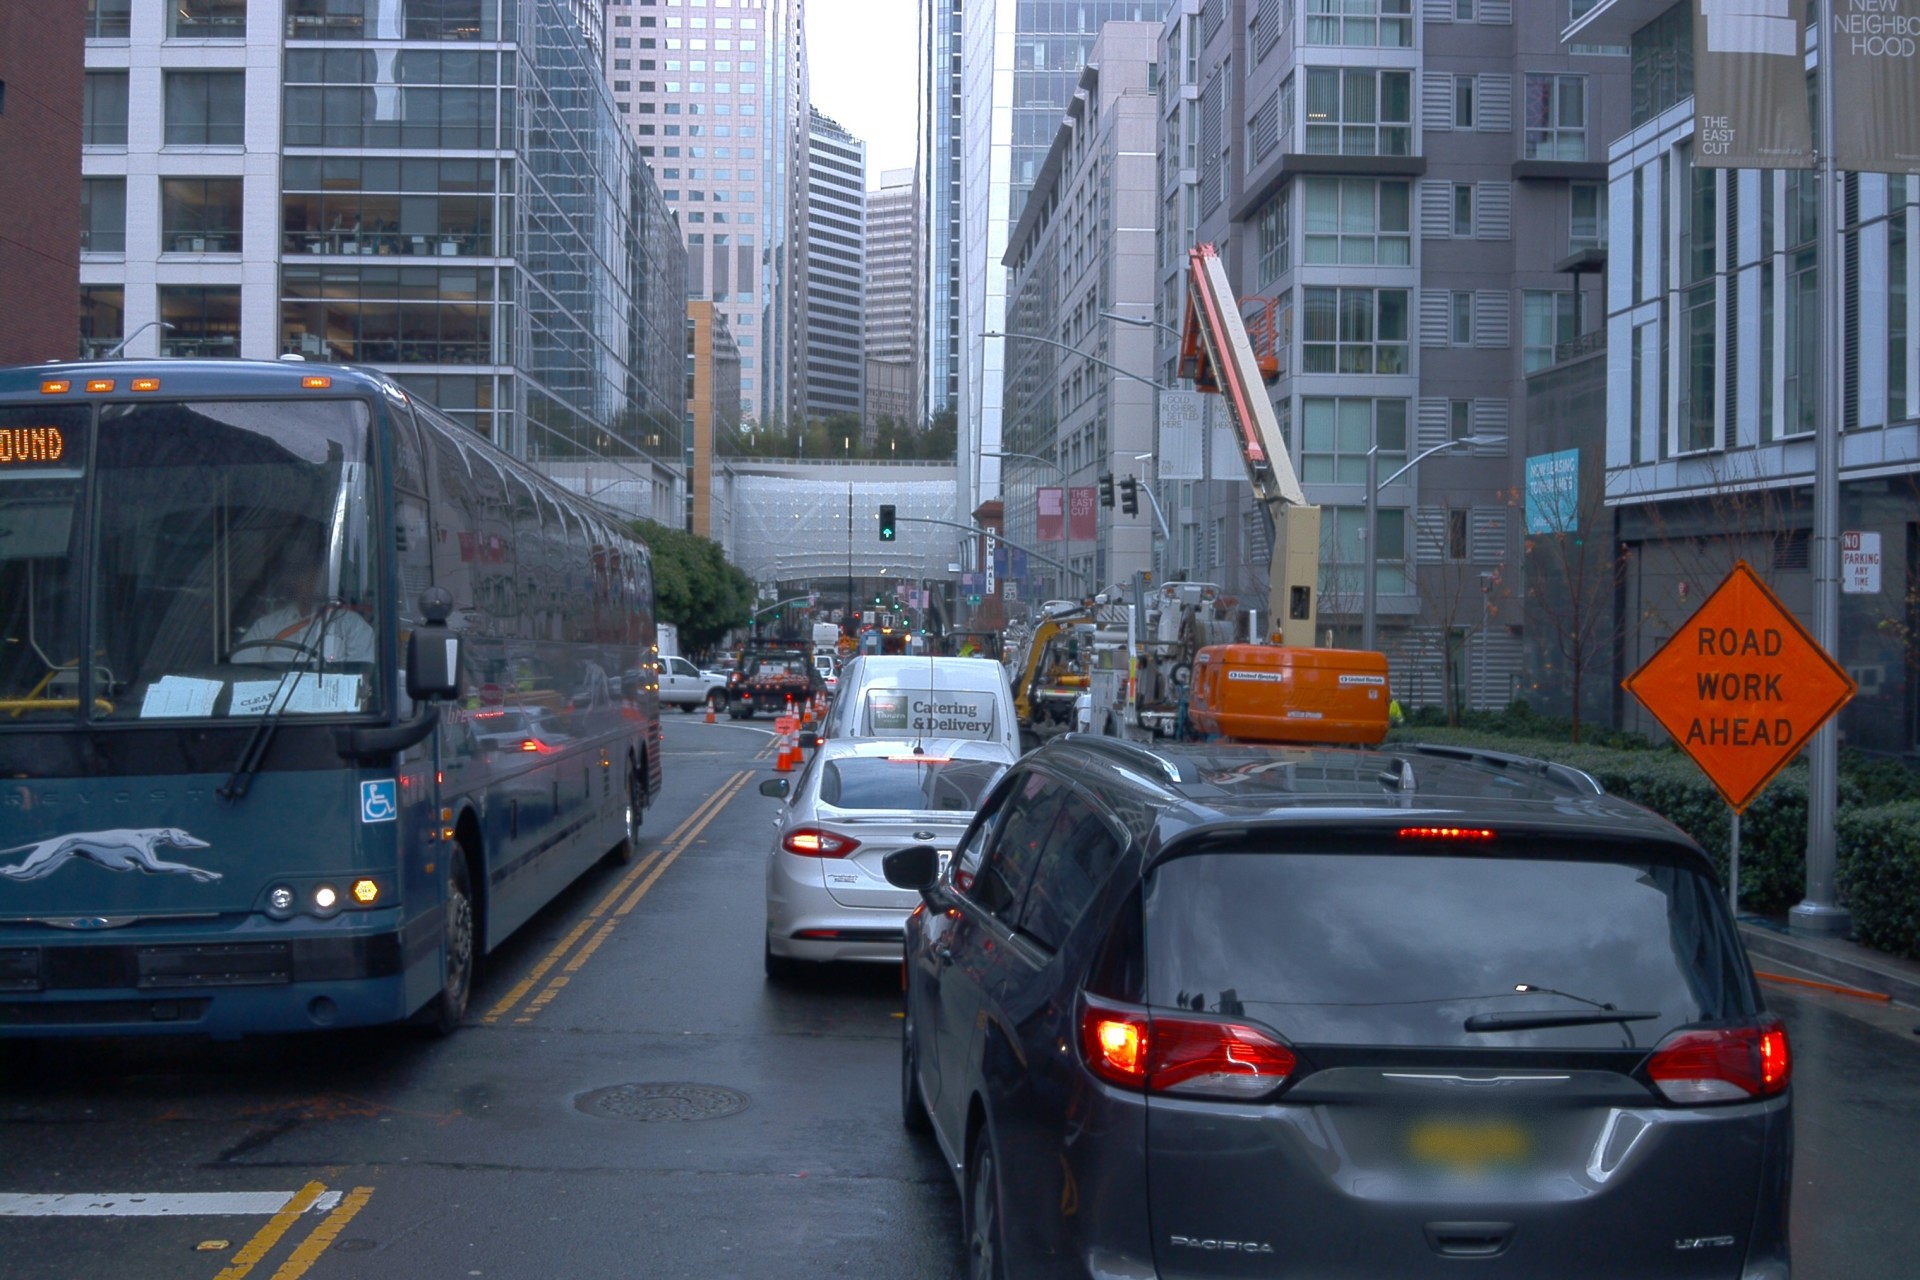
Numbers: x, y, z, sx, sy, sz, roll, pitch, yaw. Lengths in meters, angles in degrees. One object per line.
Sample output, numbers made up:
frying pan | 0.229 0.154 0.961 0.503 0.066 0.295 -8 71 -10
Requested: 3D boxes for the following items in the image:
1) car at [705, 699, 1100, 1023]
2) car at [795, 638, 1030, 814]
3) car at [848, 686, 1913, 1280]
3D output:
car | -0.378 1.294 13.826 2.164 1.580 4.901 1 1 -1
car | -0.542 0.744 19.508 1.860 1.470 3.431 1 1 -7
car | 0.802 1.116 6.811 2.058 1.750 4.787 1 1 -6
